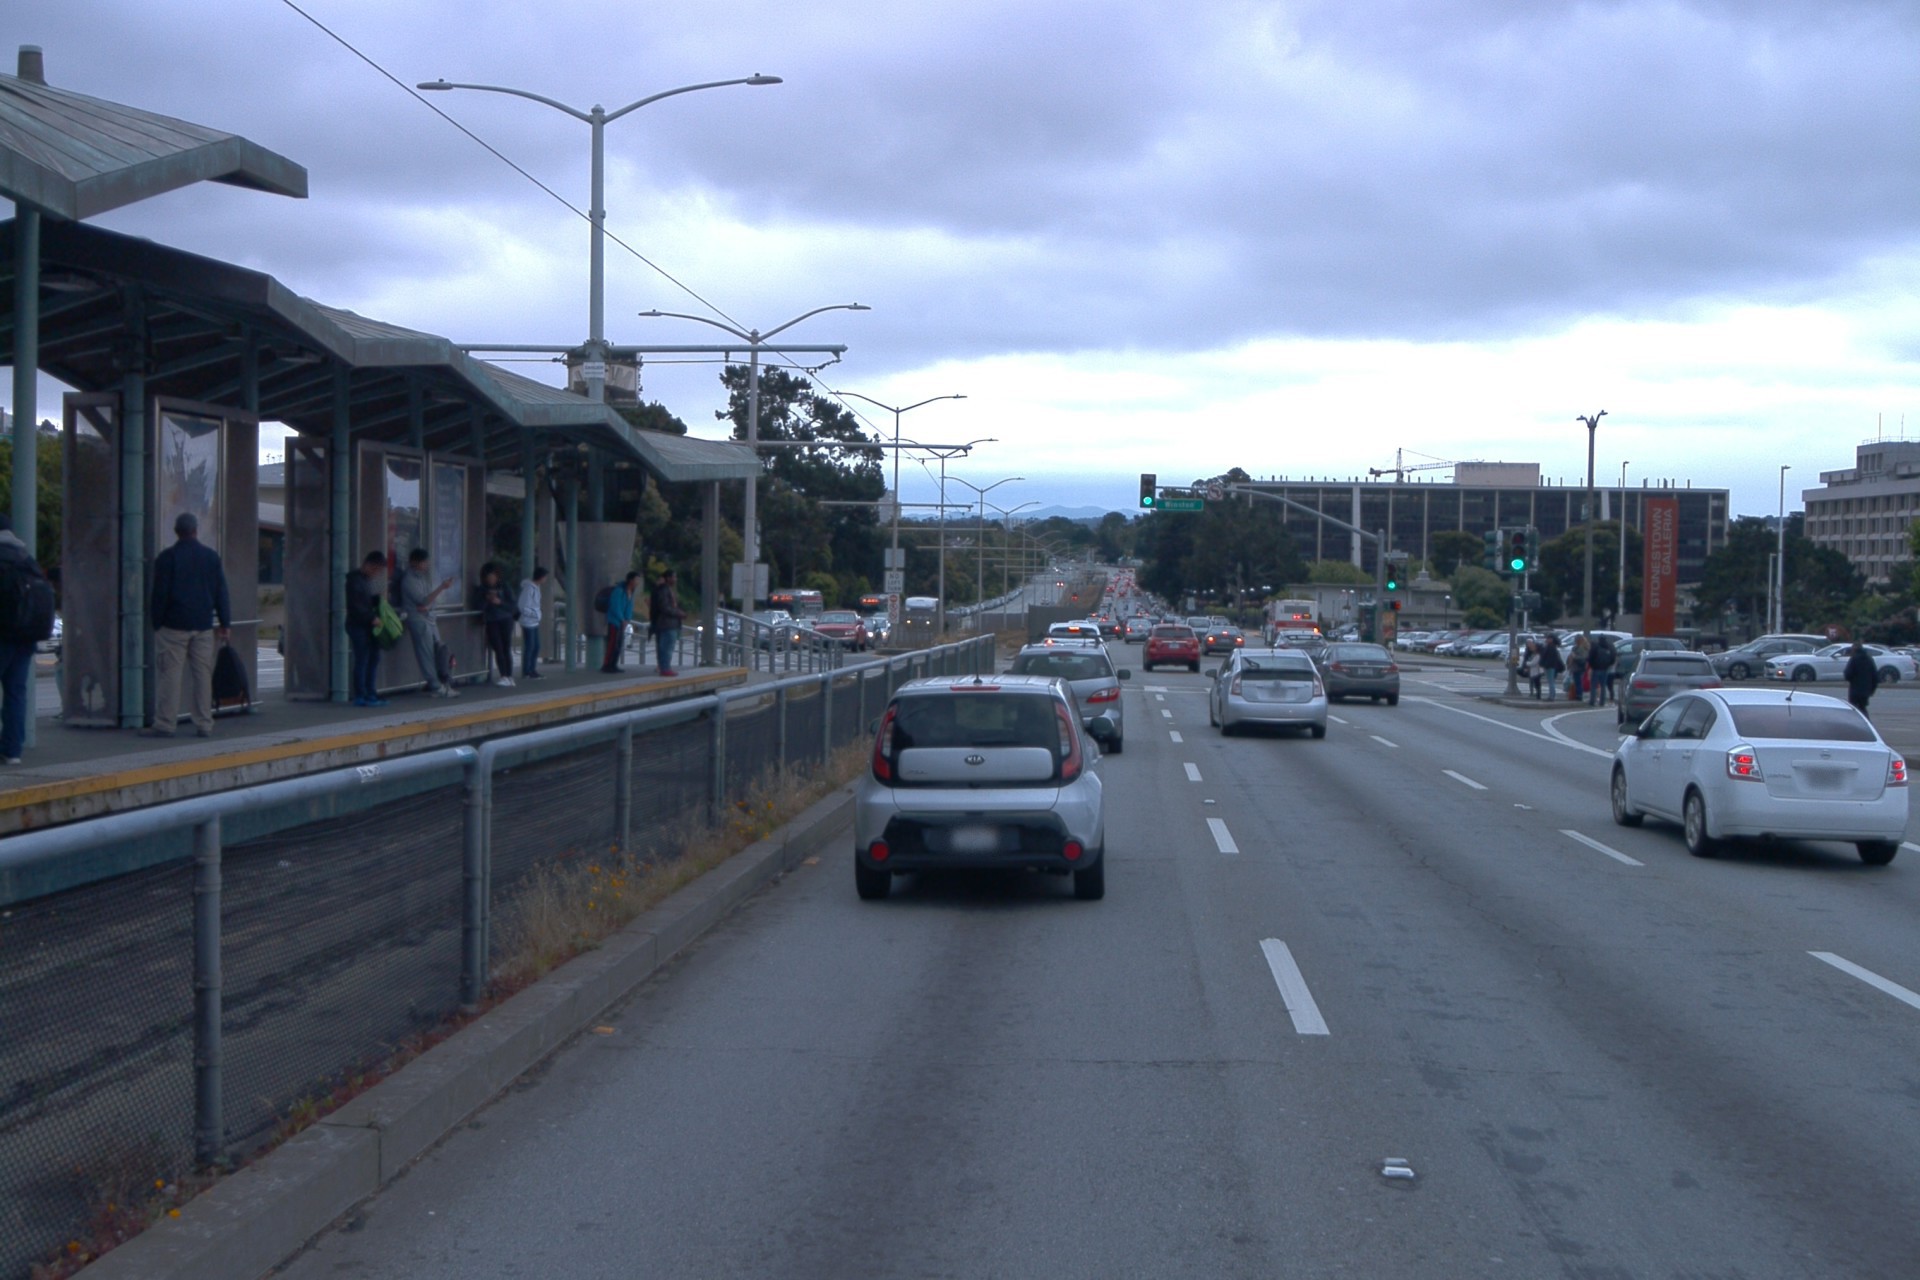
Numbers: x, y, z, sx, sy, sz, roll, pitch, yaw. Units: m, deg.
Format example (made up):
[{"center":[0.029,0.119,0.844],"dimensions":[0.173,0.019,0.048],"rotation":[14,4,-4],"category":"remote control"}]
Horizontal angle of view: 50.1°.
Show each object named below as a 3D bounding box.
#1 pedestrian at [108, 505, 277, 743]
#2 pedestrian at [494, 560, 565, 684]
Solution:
[{"center":[-6.167,-0.131,16.530],"dimensions":[1.020,1.840,0.841],"rotation":[-1,1,-42],"category":"pedestrian"},{"center":[-5.972,-0.252,28.514],"dimensions":[0.639,1.690,0.706],"rotation":[0,1,32],"category":"pedestrian"}]
